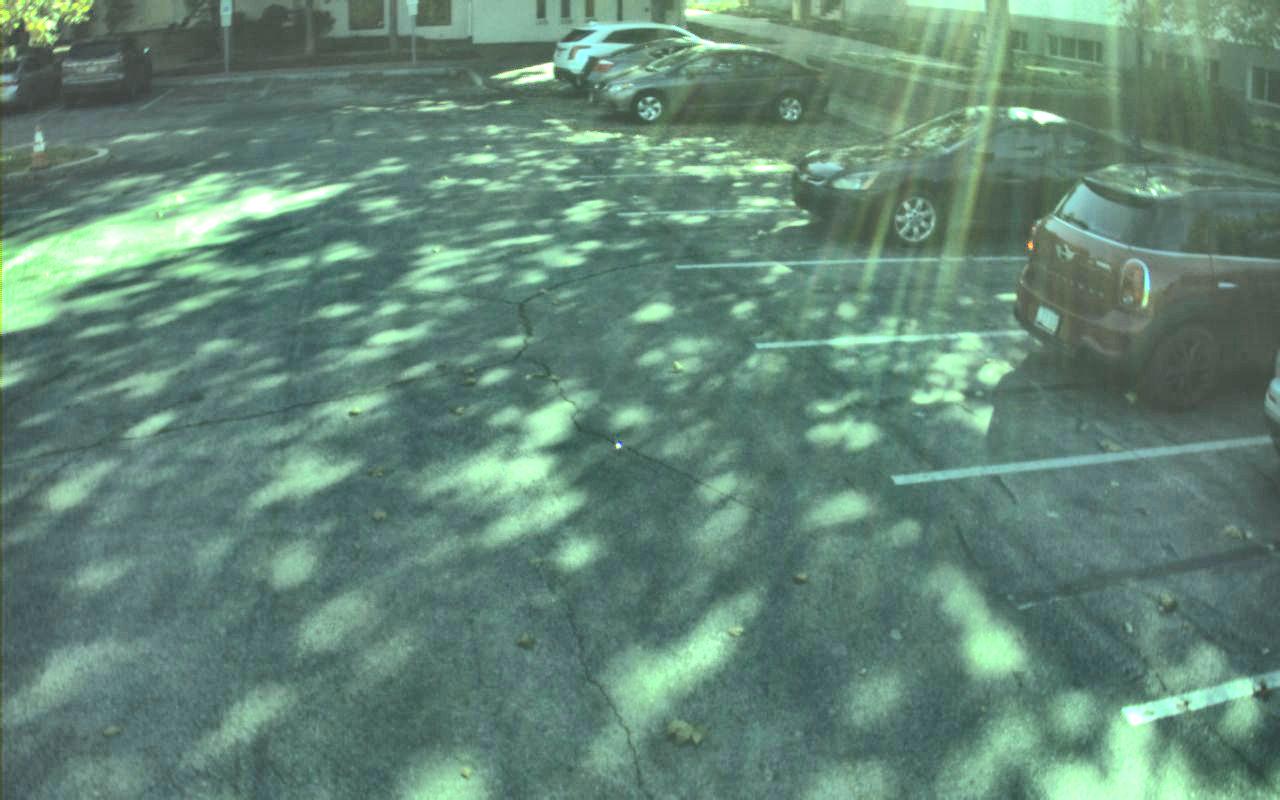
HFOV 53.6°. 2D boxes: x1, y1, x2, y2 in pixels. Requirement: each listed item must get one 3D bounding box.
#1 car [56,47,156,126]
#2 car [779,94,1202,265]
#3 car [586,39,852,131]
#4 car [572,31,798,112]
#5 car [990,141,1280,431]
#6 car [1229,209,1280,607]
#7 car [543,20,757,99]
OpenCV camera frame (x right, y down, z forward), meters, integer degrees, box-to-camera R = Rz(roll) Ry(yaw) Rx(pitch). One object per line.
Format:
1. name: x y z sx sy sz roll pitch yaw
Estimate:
1. car: -13.740 -8.075 29.220 1.988 1.686 4.547 -5 17 -14
2. car: 4.003 -2.564 13.635 4.554 1.591 1.979 -5 17 -12
3. car: 1.457 -5.979 23.252 4.673 1.584 1.997 -5 17 -11
4. car: 0.899 -6.812 25.460 4.311 1.554 1.924 -5 17 -13
5. car: 5.087 -1.060 8.858 4.481 1.654 1.958 -5 17 -14
6. car: 5.888 -0.179 6.375 4.339 1.613 1.925 -6 17 -15
7. car: 0.189 -7.696 27.761 4.492 1.658 1.969 -5 17 -13
